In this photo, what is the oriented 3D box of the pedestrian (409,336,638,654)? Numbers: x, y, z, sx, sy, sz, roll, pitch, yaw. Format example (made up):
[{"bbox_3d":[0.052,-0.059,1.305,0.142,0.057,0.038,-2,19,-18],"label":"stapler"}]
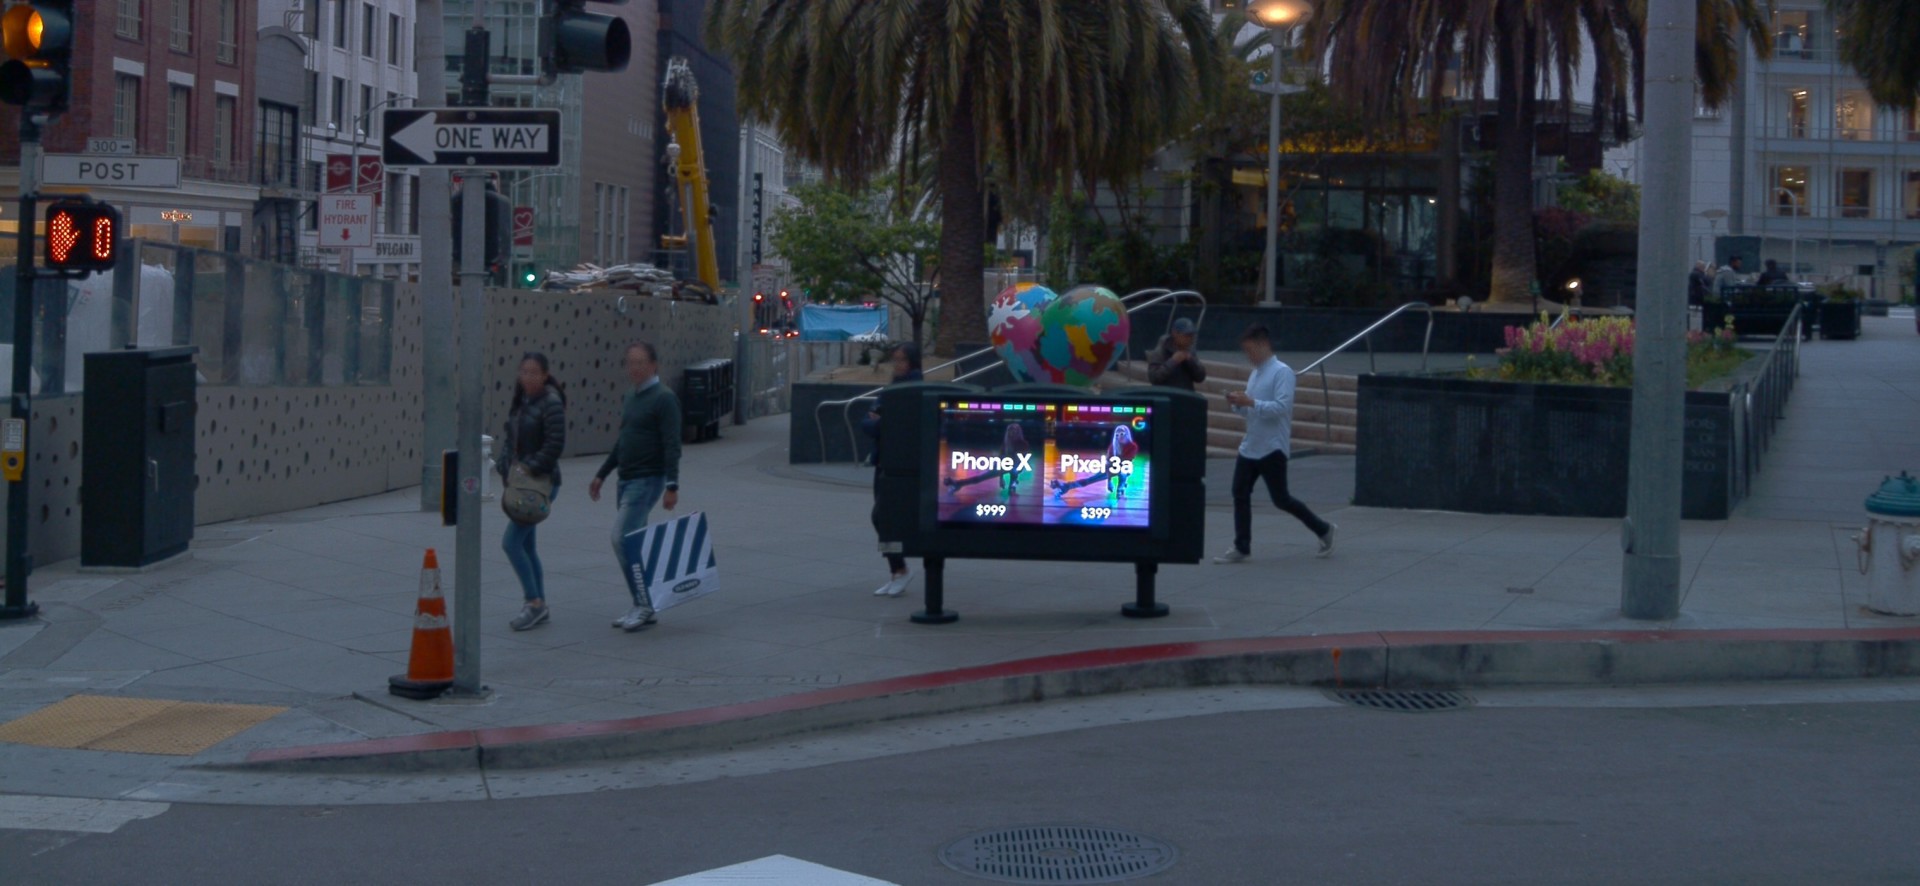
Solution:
[{"bbox_3d":[-2.592,0.255,12.238,1.001,1.719,1.001,-1,2,-36],"label":"pedestrian"}]

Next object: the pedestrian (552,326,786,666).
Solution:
[{"bbox_3d":[-1.719,0.254,12.162,1.001,1.829,1.001,-1,2,-36],"label":"pedestrian"}]

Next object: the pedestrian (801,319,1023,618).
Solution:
[{"bbox_3d":[-0.310,0.113,13.150,1.001,1.749,1.001,-2,2,-40],"label":"pedestrian"}]

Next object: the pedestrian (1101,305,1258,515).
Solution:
[{"bbox_3d":[1.952,-0.329,18.446,1.001,1.759,1.002,-1,2,-29],"label":"pedestrian"}]

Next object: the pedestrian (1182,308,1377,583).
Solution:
[{"bbox_3d":[2.161,-0.021,14.091,1.000,1.759,1.002,-1,2,-14],"label":"pedestrian"}]
